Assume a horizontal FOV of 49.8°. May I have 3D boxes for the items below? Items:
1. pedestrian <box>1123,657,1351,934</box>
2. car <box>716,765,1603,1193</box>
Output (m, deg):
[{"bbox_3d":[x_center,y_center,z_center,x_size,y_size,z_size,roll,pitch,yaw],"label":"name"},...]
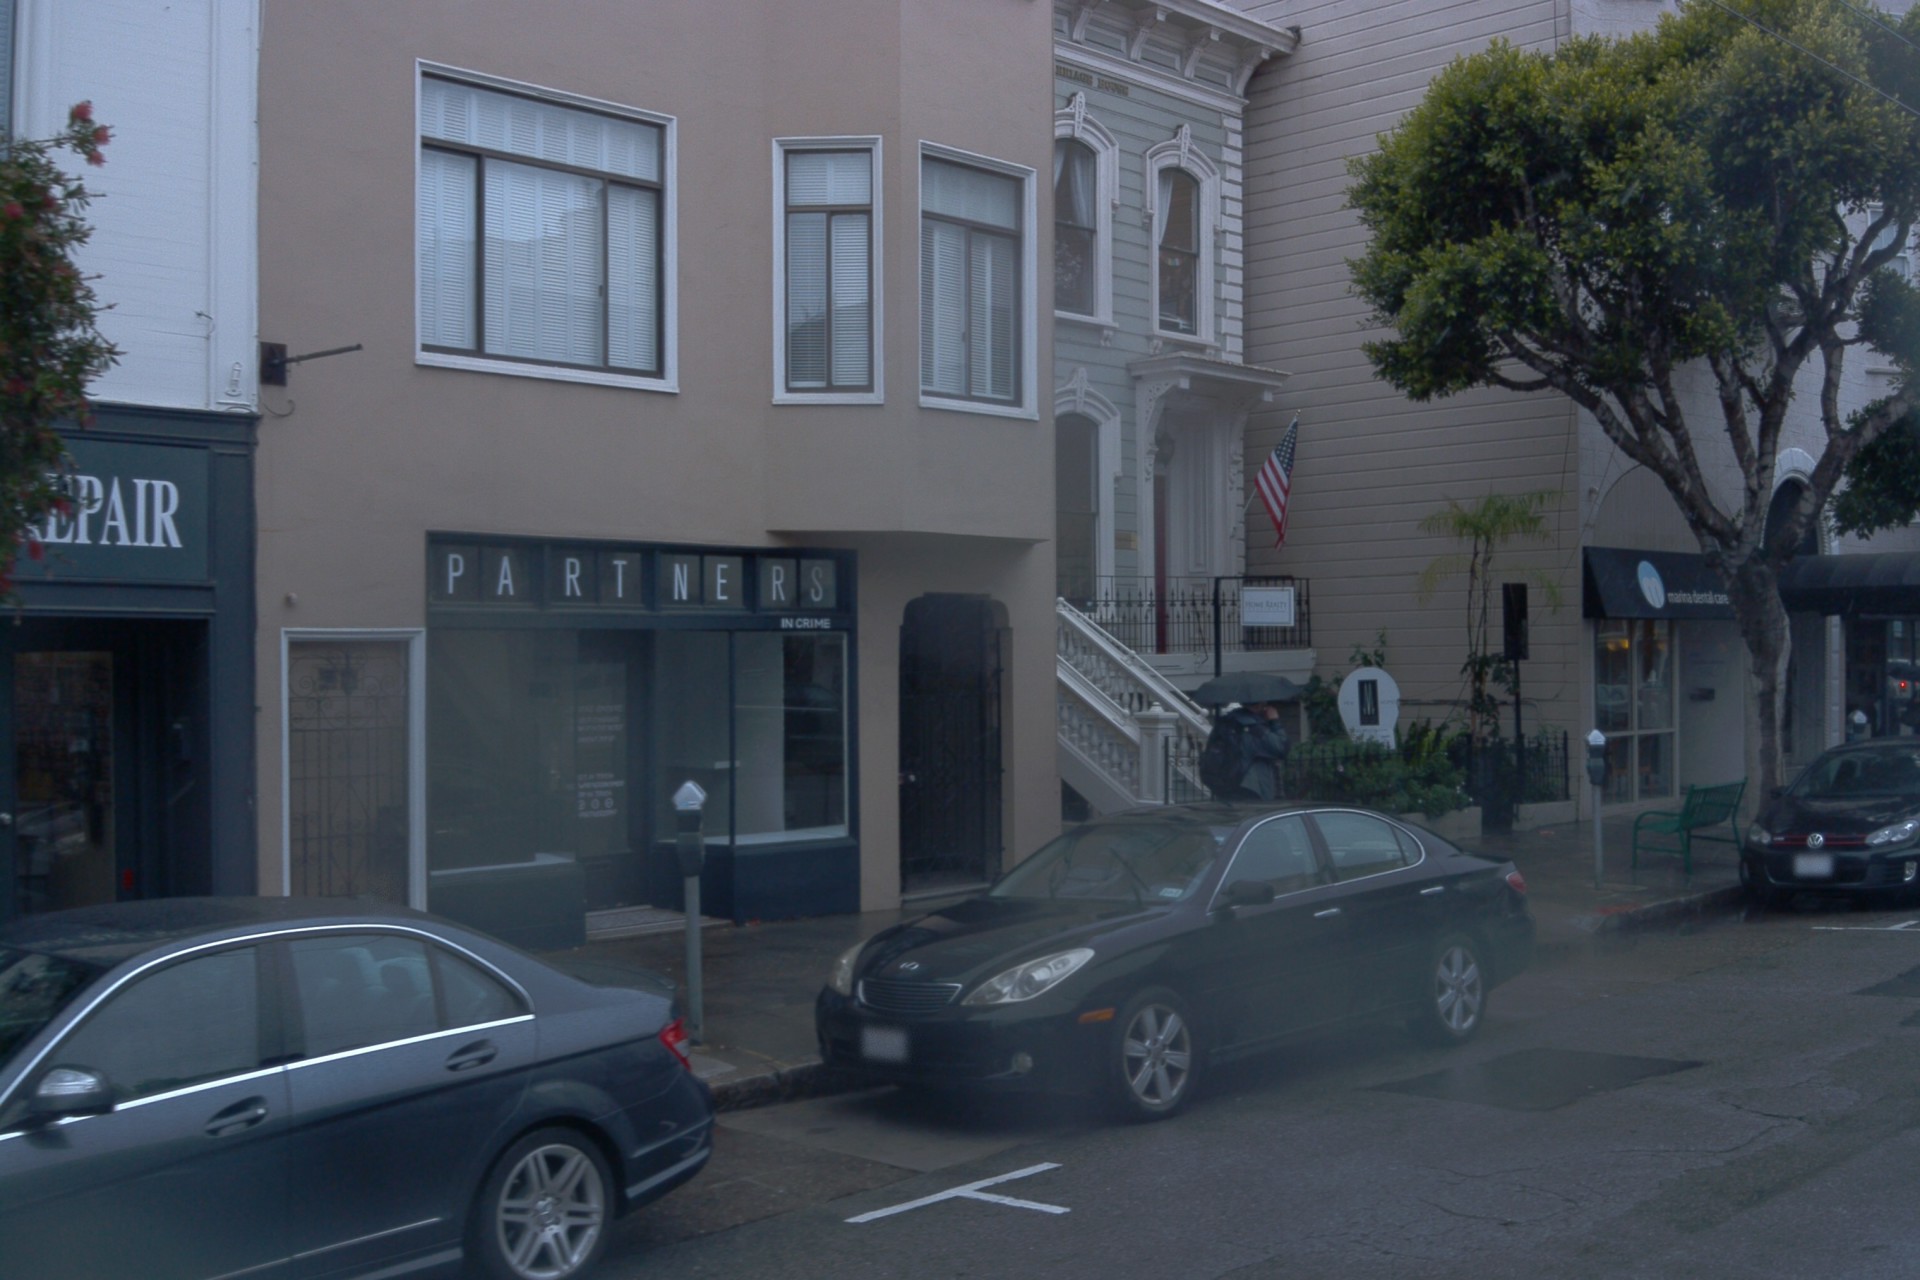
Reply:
[{"bbox_3d":[2.295,1.223,17.081,1.167,2.120,1.522,2,1,42],"label":"pedestrian"},{"bbox_3d":[1.333,1.602,11.358,2.027,1.490,5.151,2,1,45],"label":"car"}]
